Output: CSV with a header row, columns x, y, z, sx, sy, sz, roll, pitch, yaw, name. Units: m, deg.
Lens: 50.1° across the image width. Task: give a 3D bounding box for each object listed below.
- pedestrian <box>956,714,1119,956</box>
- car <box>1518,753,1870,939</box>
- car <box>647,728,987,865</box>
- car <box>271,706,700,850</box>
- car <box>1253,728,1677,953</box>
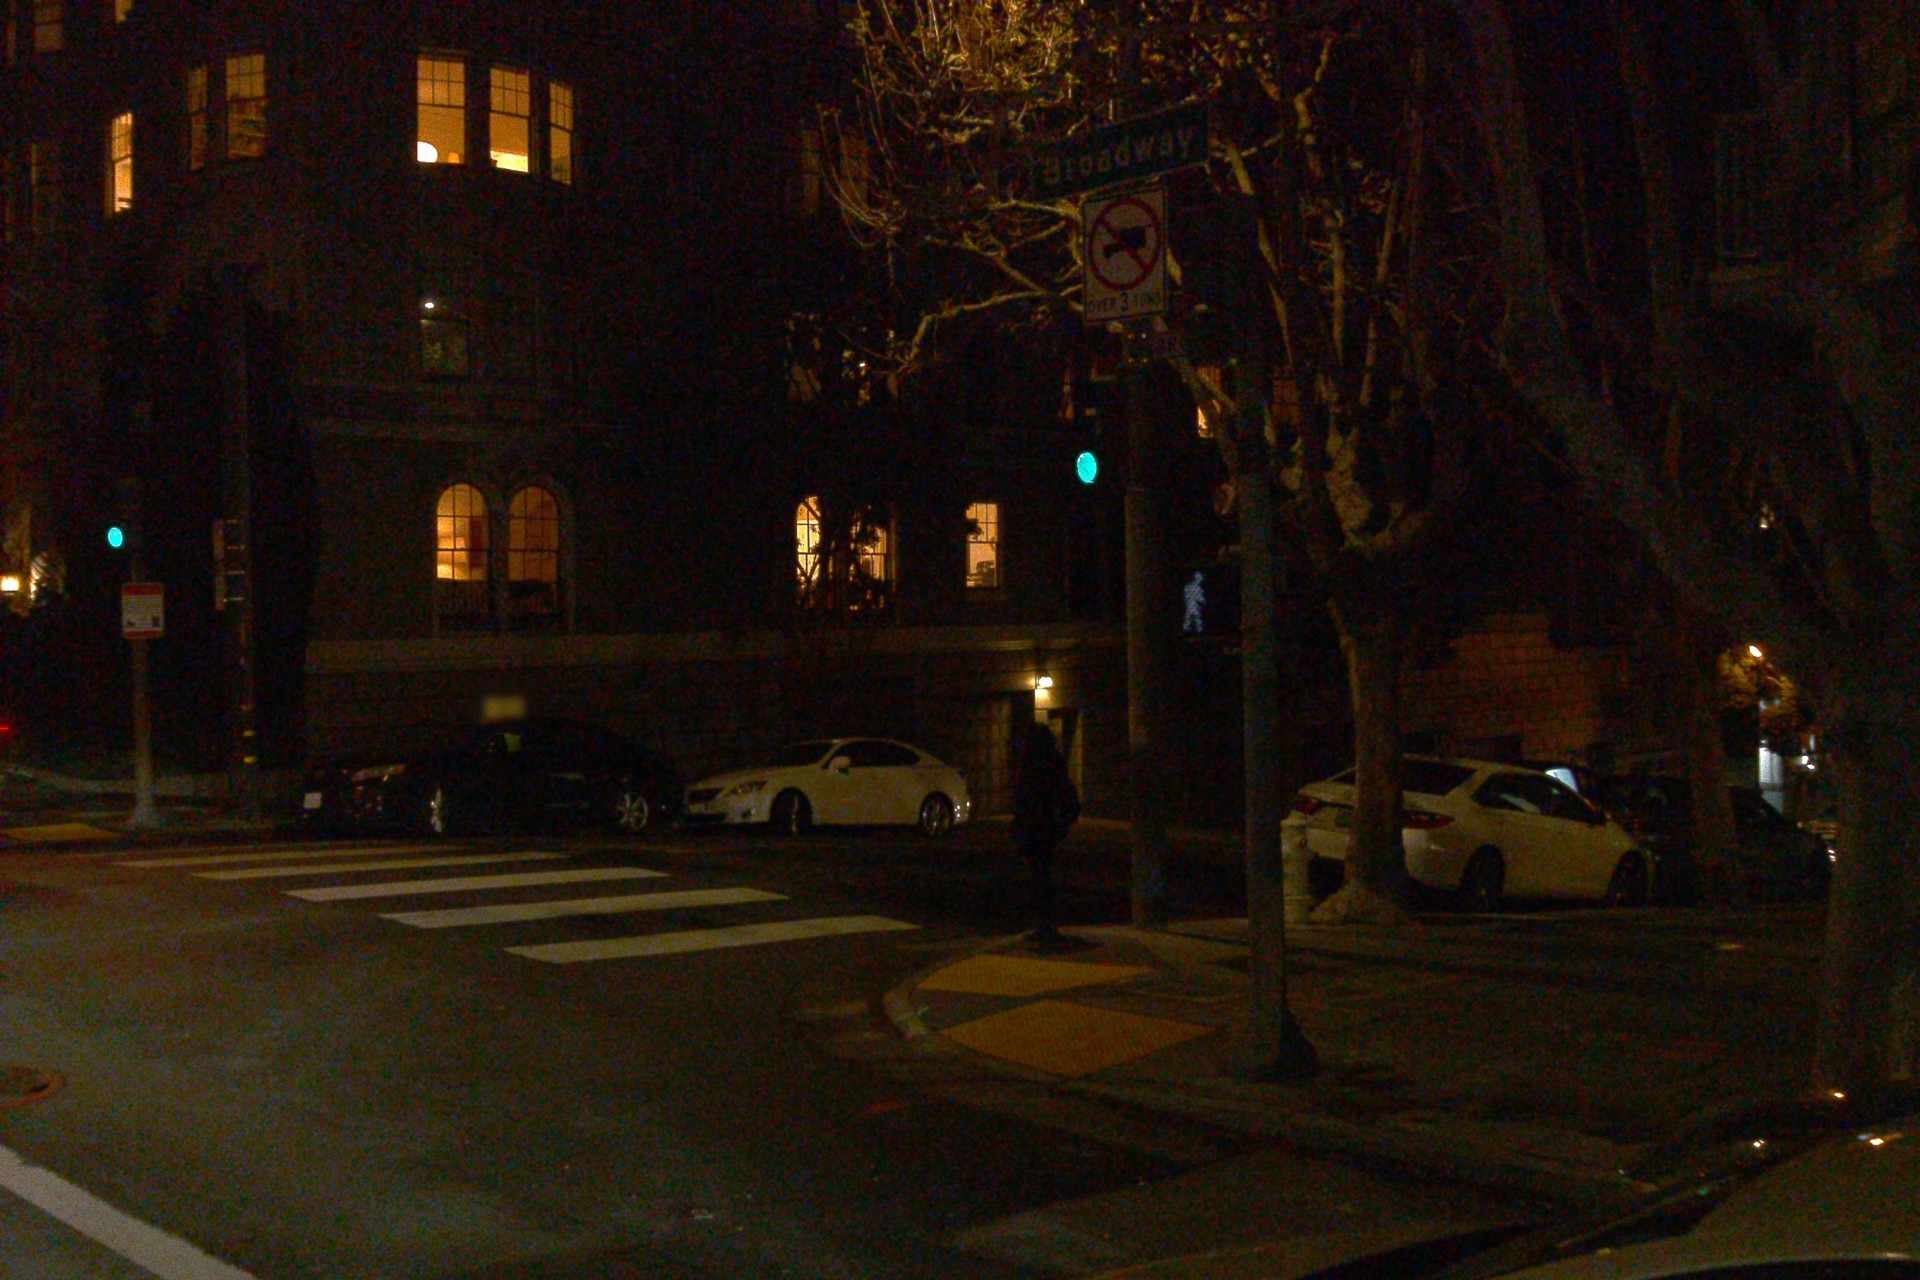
x,y,z,sx,sy,sz,roll,pitch,yaw,name
0.532,1.318,14.255,0.707,1.570,0.903,0,0,-38,pedestrian
8.912,2.368,24.708,4.887,1.744,1.990,0,0,-44,car
-1.844,2.031,27.686,1.919,1.482,4.488,1,0,42,car
-5.402,1.524,23.892,1.838,1.362,4.644,1,0,42,car
5.163,1.892,20.643,4.554,1.811,1.990,0,0,-44,car
